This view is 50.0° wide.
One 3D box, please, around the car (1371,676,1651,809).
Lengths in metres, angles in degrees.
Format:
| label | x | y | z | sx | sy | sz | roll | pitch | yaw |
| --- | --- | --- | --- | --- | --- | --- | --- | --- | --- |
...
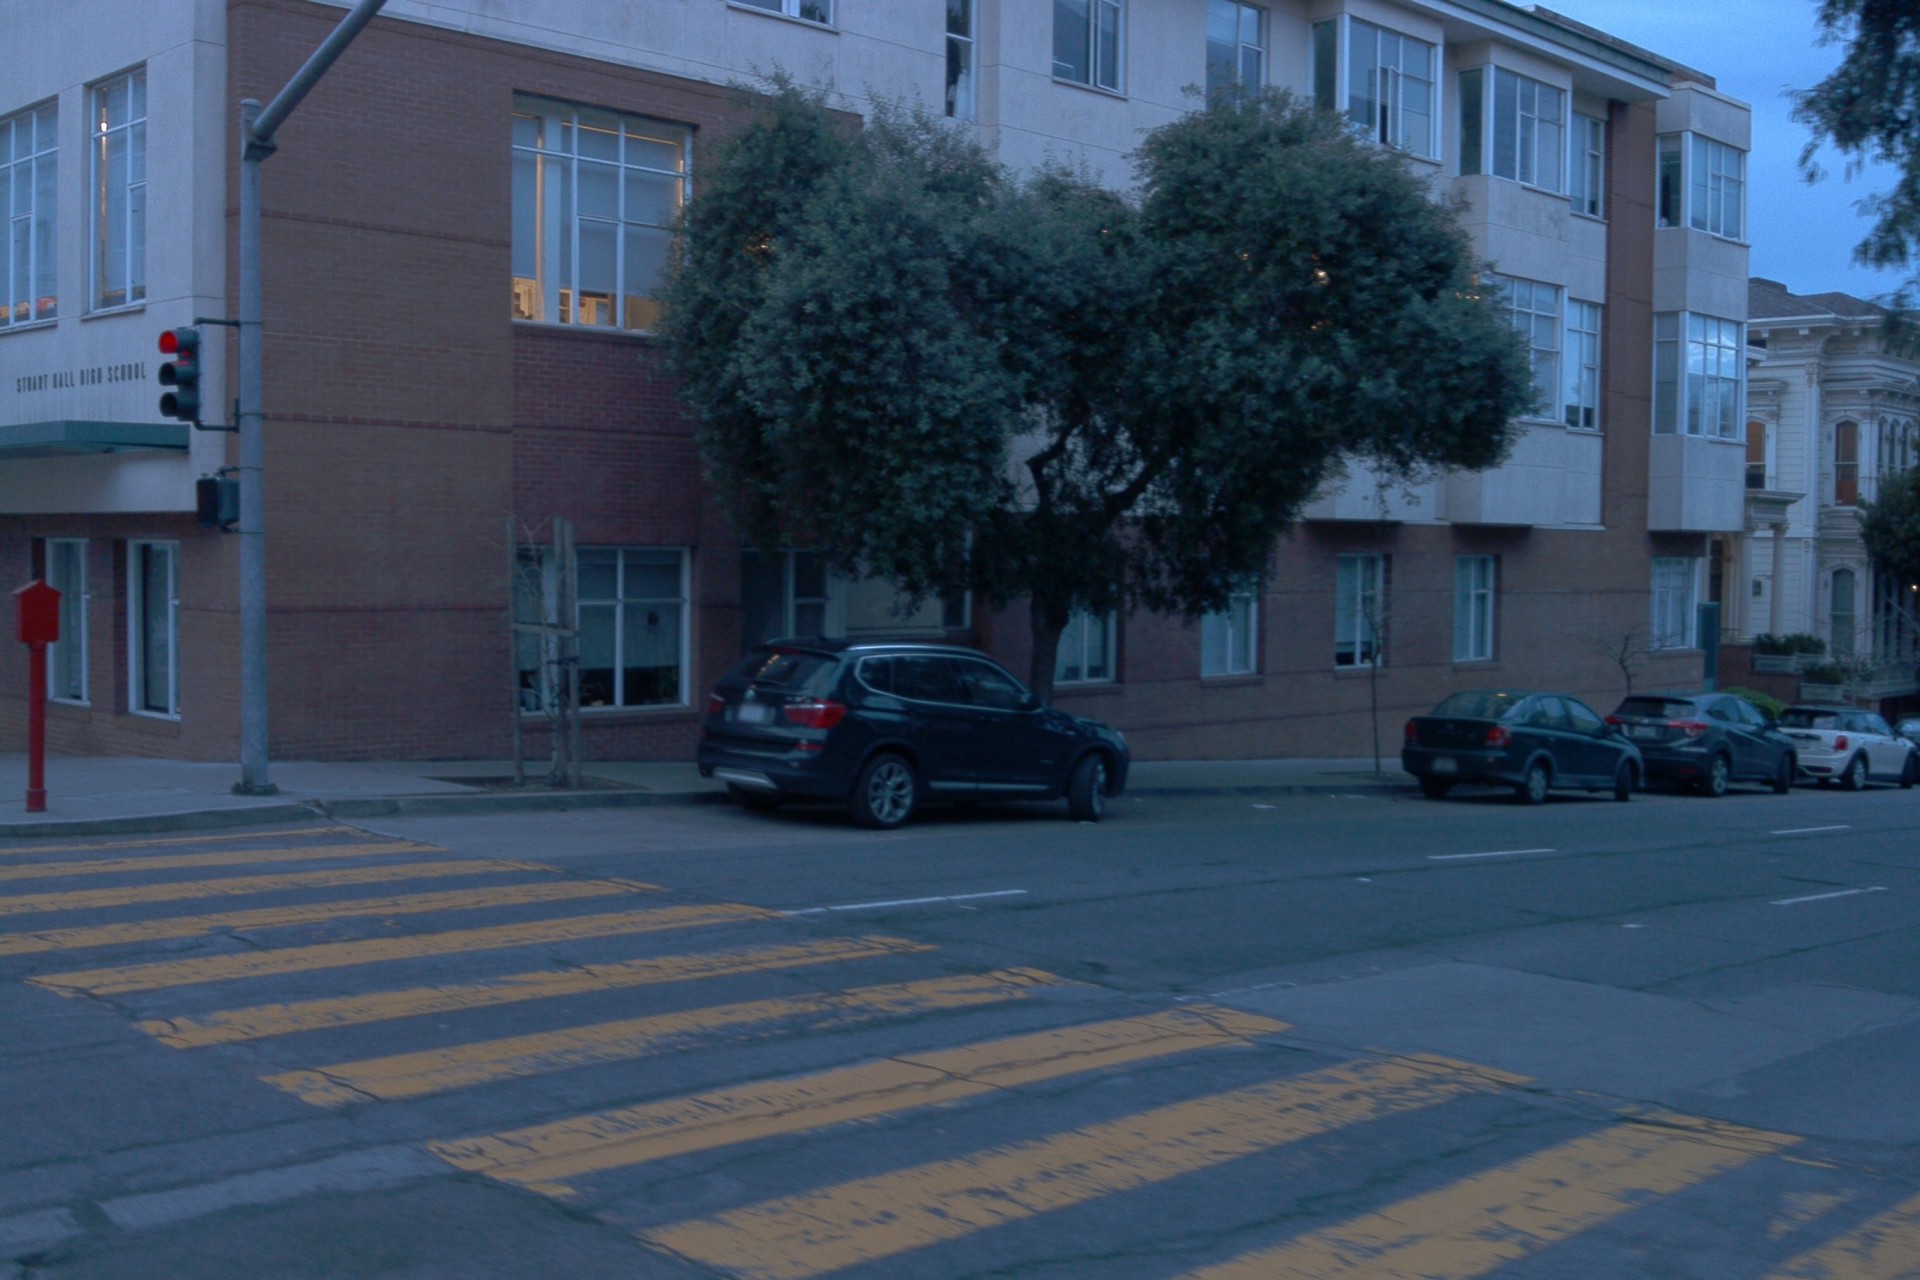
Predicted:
| label | x | y | z | sx | sy | sz | roll | pitch | yaw |
| --- | --- | --- | --- | --- | --- | --- | --- | --- | --- |
| car | 7.476 | 1.313 | 27.739 | 3.956 | 1.560 | 1.886 | 0 | 1 | -45 |

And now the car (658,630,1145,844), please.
| label | x | y | z | sx | sy | sz | roll | pitch | yaw |
| --- | --- | --- | --- | --- | --- | --- | --- | --- | --- |
| car | -0.453 | 0.811 | 19.644 | 2.050 | 1.780 | 4.500 | 1 | 1 | 43 |

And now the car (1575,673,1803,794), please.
| label | x | y | z | sx | sy | sz | roll | pitch | yaw |
| --- | --- | --- | --- | --- | --- | --- | --- | --- | --- |
| car | 11.321 | 1.387 | 31.836 | 1.839 | 1.650 | 3.967 | 1 | 1 | 43 |
